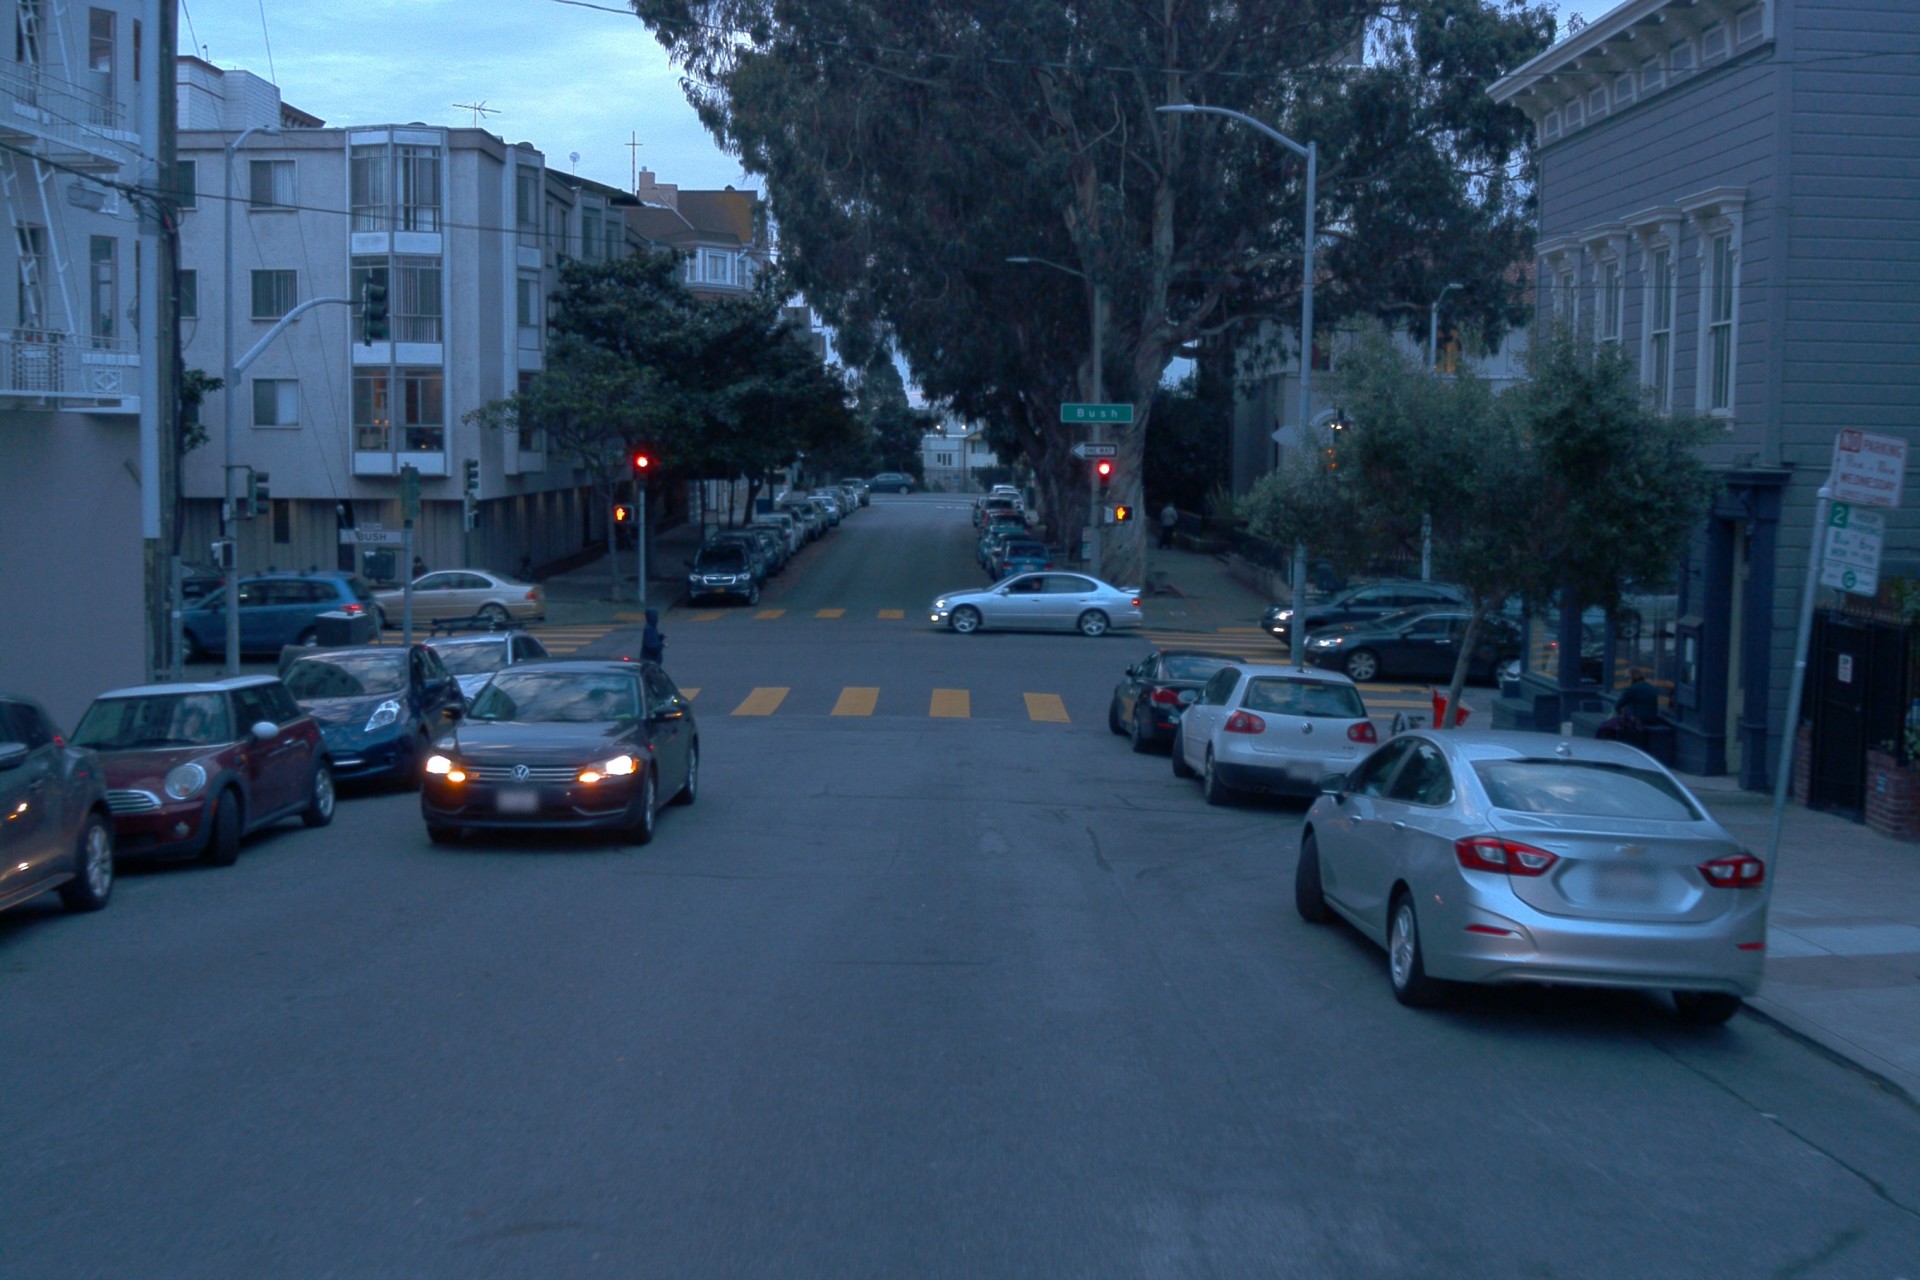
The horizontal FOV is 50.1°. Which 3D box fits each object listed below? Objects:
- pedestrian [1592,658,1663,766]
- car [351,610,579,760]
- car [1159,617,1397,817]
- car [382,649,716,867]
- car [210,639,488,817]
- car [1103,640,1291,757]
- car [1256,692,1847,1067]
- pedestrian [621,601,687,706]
[{"bbox_3d":[8.276,0.883,25.522,0.777,1.290,0.721,1,1,15],"label":"pedestrian"},{"bbox_3d":[-6.431,0.515,27.211,1.910,1.790,4.265,1,1,1],"label":"car"},{"bbox_3d":[3.363,0.747,22.482,1.899,1.930,4.018,1,1,-1],"label":"car"},{"bbox_3d":[-3.407,0.909,18.000,2.053,1.520,4.712,1,1,-1],"label":"car"},{"bbox_3d":[-6.444,0.863,22.162,2.016,1.640,4.166,1,1,-4],"label":"car"},{"bbox_3d":[3.153,0.739,28.242,1.939,1.380,4.388,1,1,-2],"label":"car"},{"bbox_3d":[3.200,1.223,12.268,2.012,1.600,4.607,1,1,-2],"label":"car"},{"bbox_3d":[-4.905,0.209,32.997,0.833,1.650,0.730,1,1,11],"label":"pedestrian"}]
